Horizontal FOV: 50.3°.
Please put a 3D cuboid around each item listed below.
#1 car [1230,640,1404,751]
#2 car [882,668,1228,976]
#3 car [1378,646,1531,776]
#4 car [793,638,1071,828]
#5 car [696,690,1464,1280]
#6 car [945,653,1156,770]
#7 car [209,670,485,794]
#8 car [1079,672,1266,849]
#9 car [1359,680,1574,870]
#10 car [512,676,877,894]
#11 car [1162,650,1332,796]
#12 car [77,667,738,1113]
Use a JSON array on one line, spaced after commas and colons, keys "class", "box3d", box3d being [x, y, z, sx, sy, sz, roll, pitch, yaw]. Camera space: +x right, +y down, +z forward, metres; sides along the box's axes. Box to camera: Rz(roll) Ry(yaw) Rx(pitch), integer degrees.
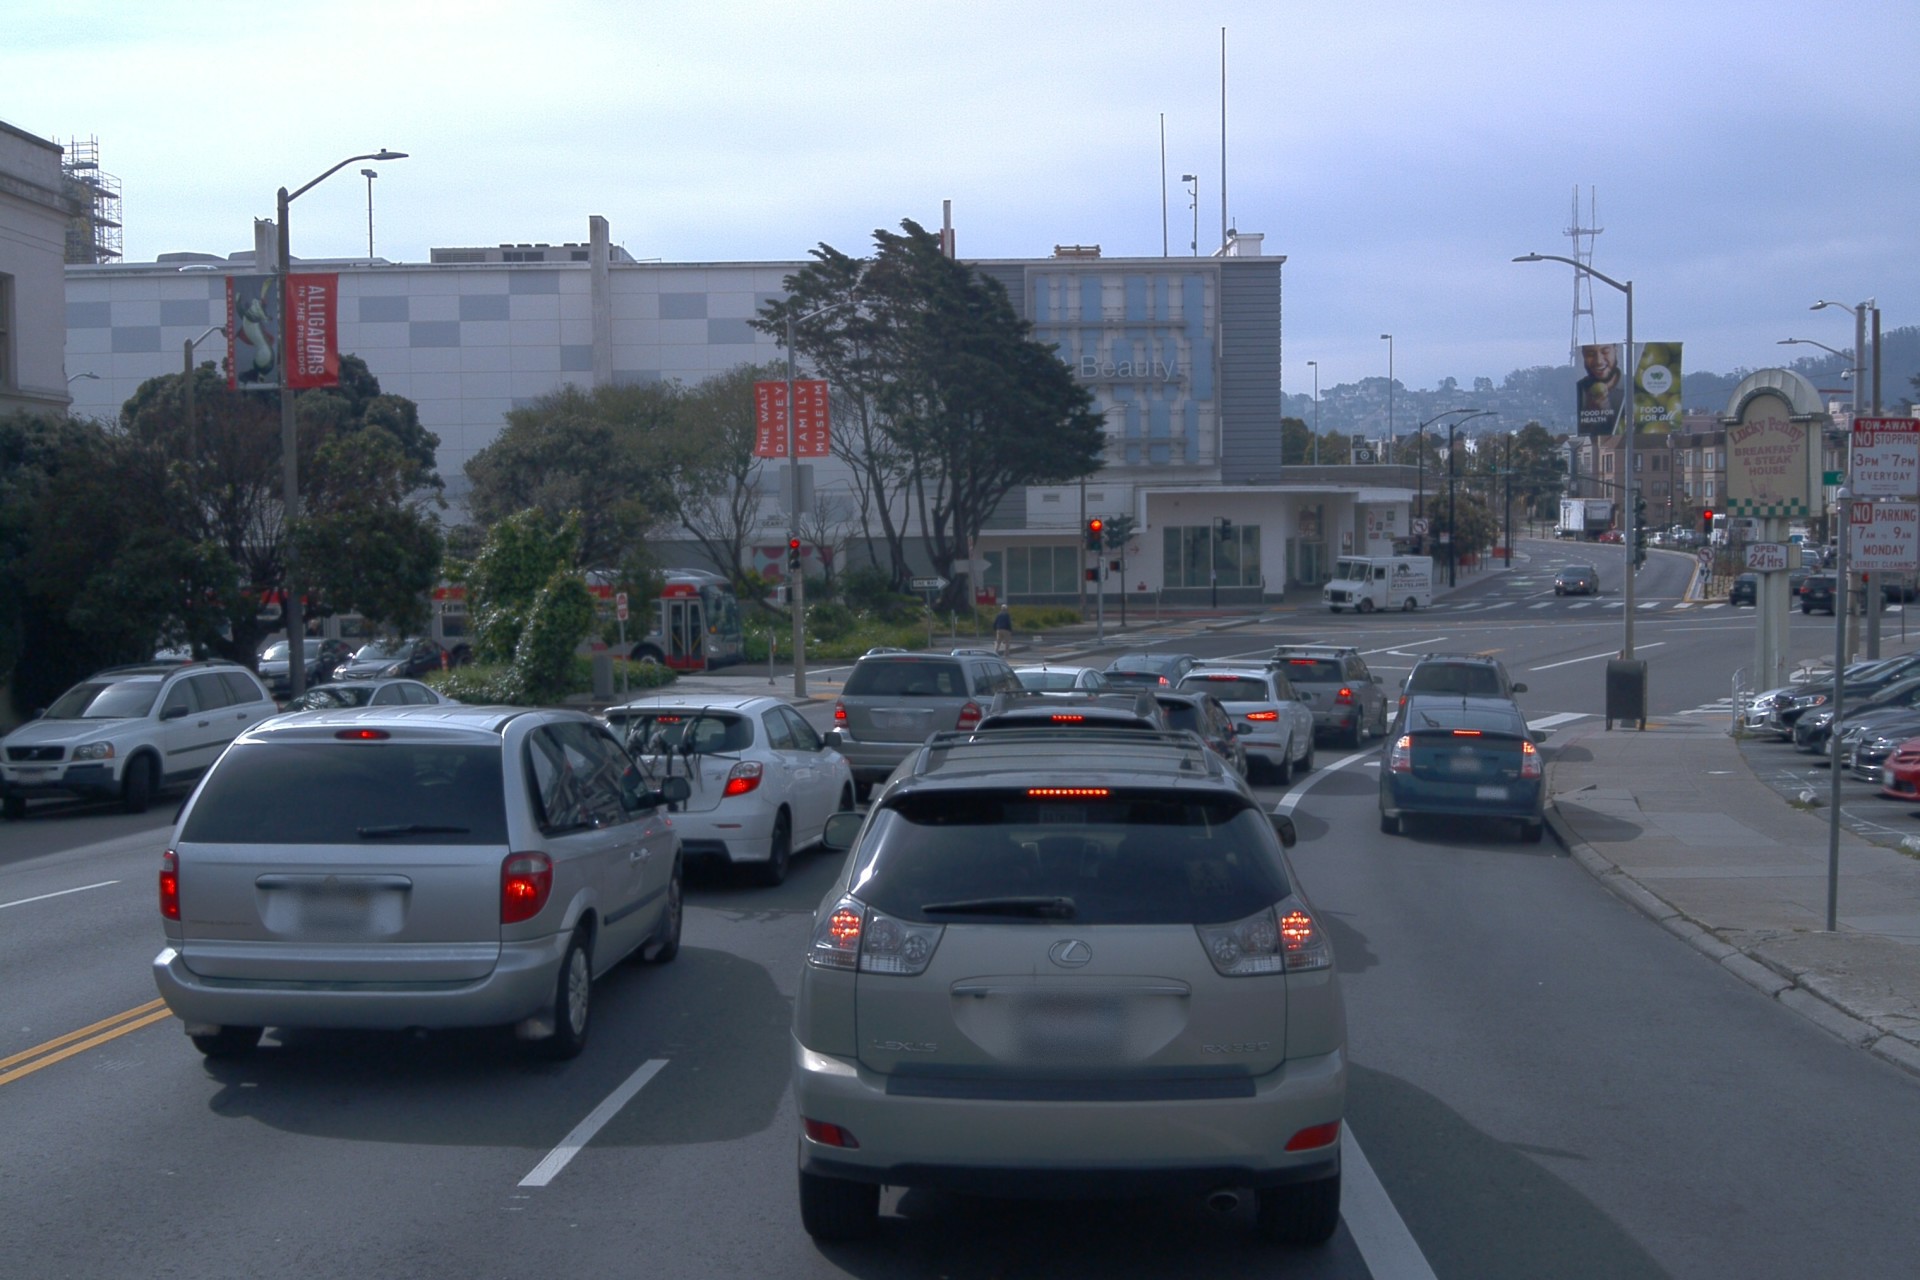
[{"class": "car", "box3d": [6.644, 0.943, 37.538, 2.226, 1.850, 5.307, 1, 0, 20]}, {"class": "car", "box3d": [0.887, 1.201, 15.459, 2.119, 1.870, 4.391, 1, 0, 9]}, {"class": "car", "box3d": [8.557, 1.139, 35.075, 2.203, 2.020, 4.801, 1, 0, 18]}, {"class": "car", "box3d": [-0.208, 1.038, 25.536, 2.236, 2.100, 4.827, 1, 0, 15]}, {"class": "car", "box3d": [0.409, 1.168, 8.136, 2.197, 1.780, 4.467, 1, 0, 2]}, {"class": "car", "box3d": [1.551, 1.074, 32.734, 2.220, 1.670, 4.643, 1, 0, 18]}, {"class": "car", "box3d": [-9.226, 1.332, 31.231, 1.977, 1.640, 4.663, 1, 0, 13]}, {"class": "car", "box3d": [2.541, 1.307, 23.697, 1.526, 1.780, 3.939, 1, 0, 15]}, {"class": "car", "box3d": [5.629, 1.410, 23.174, 2.113, 1.790, 4.645, 1, 0, 12]}, {"class": "car", "box3d": [-2.123, 1.134, 17.680, 1.982, 1.530, 4.306, 1, 0, 9]}, {"class": "car", "box3d": [4.174, 1.103, 29.241, 1.795, 1.880, 4.044, 1, 0, 17]}, {"class": "car", "box3d": [-2.683, 1.118, 11.269, 2.131, 1.830, 4.635, 1, 0, 4]}]
